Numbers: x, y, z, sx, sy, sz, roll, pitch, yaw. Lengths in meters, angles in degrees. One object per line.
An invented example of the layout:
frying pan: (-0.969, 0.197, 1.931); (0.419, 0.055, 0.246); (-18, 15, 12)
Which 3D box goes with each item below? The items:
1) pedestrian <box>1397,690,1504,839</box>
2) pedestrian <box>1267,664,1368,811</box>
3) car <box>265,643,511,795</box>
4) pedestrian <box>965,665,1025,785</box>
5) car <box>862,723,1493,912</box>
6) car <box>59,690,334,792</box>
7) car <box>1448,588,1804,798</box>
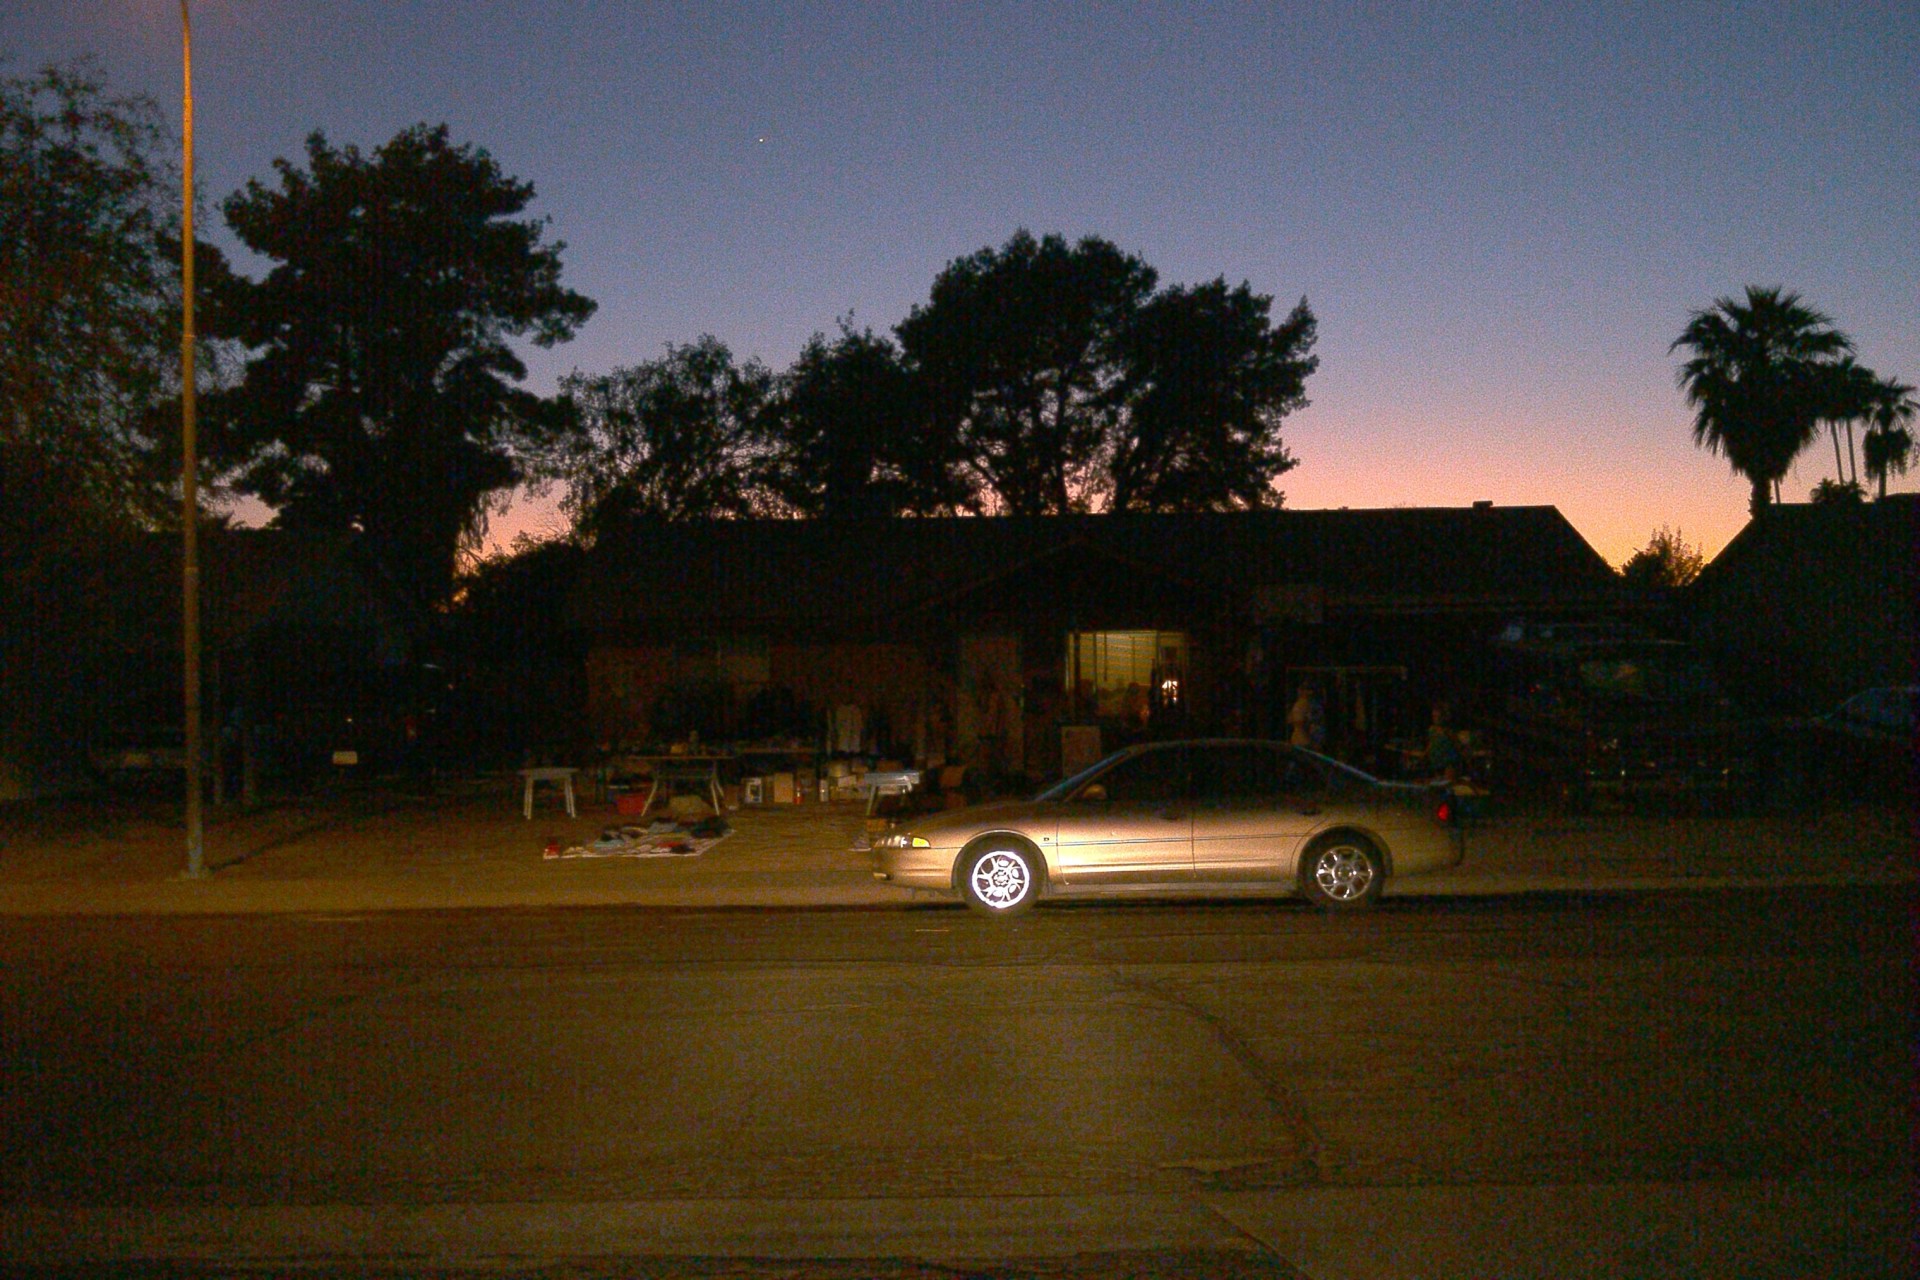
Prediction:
pedestrian: (5.183, 1.299, 22.030); (0.834, 1.540, 0.878); (0, -1, -9)
pedestrian: (4.196, 1.130, 24.436); (0.831, 1.690, 0.835); (1, -1, -31)
car: (-8.384, 1.125, 31.155); (2.351, 2.050, 6.000); (0, -1, -3)
pedestrian: (0.495, 1.168, 28.761); (0.812, 1.640, 0.647); (0, -1, 2)
car: (1.745, 1.469, 17.798); (5.057, 1.450, 2.236); (0, -1, 0)
car: (-11.210, 1.444, 30.906); (2.219, 1.390, 4.281); (0, -1, 5)
car: (7.976, 0.642, 25.640); (2.592, 2.310, 5.421); (0, -1, -1)
